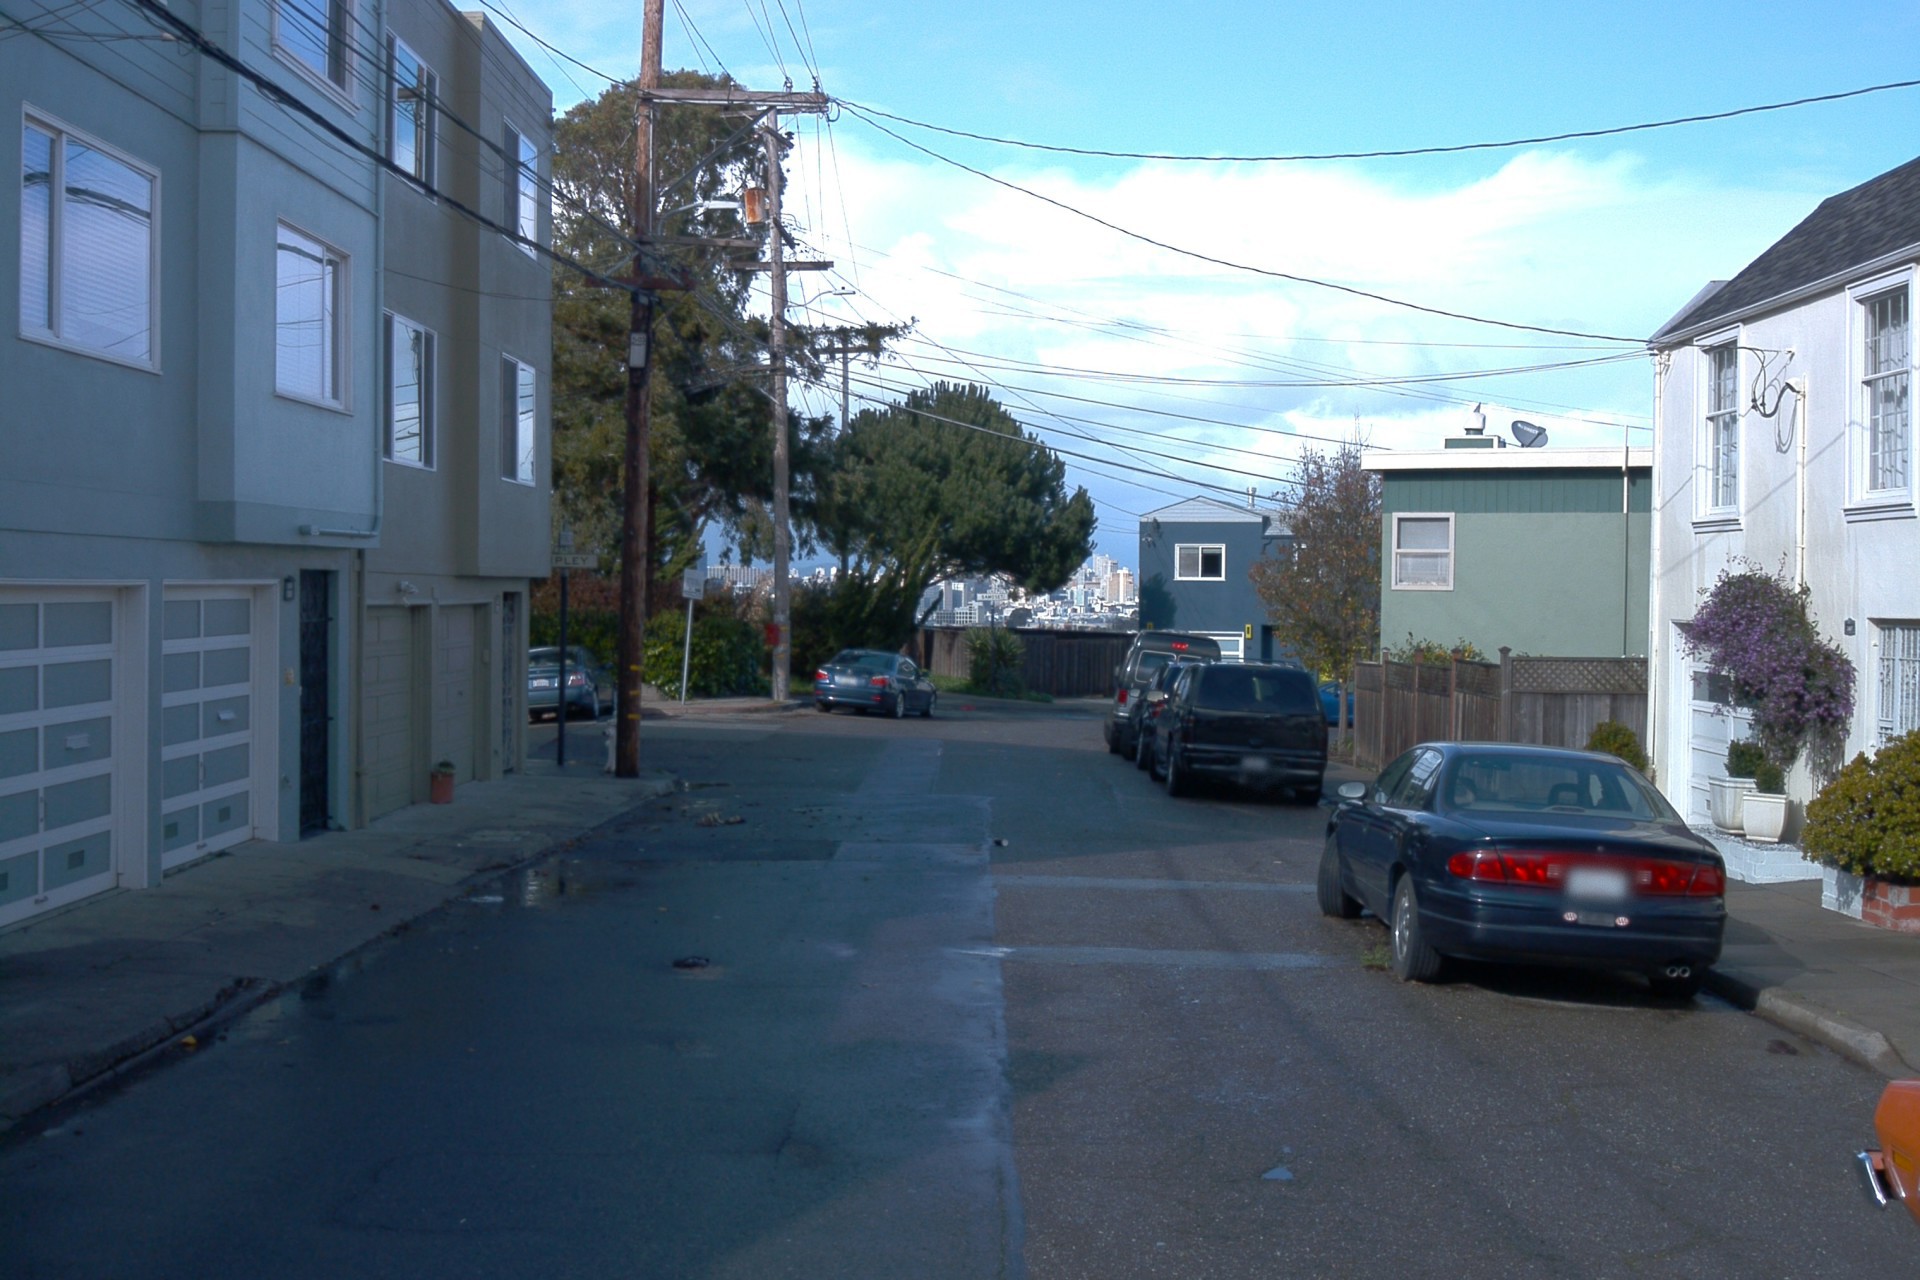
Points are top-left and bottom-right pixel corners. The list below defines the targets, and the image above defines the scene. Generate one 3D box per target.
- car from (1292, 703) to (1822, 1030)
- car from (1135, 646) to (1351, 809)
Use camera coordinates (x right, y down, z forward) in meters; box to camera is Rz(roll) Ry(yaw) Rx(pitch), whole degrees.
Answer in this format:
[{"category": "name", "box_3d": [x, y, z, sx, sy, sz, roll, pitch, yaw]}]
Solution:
[{"category": "car", "box_3d": [3.649, 1.310, 13.677, 2.124, 1.510, 4.928, 1, 1, 1]}, {"category": "car", "box_3d": [3.732, 1.089, 28.073, 2.280, 1.880, 5.115, 1, 1, 1]}]
